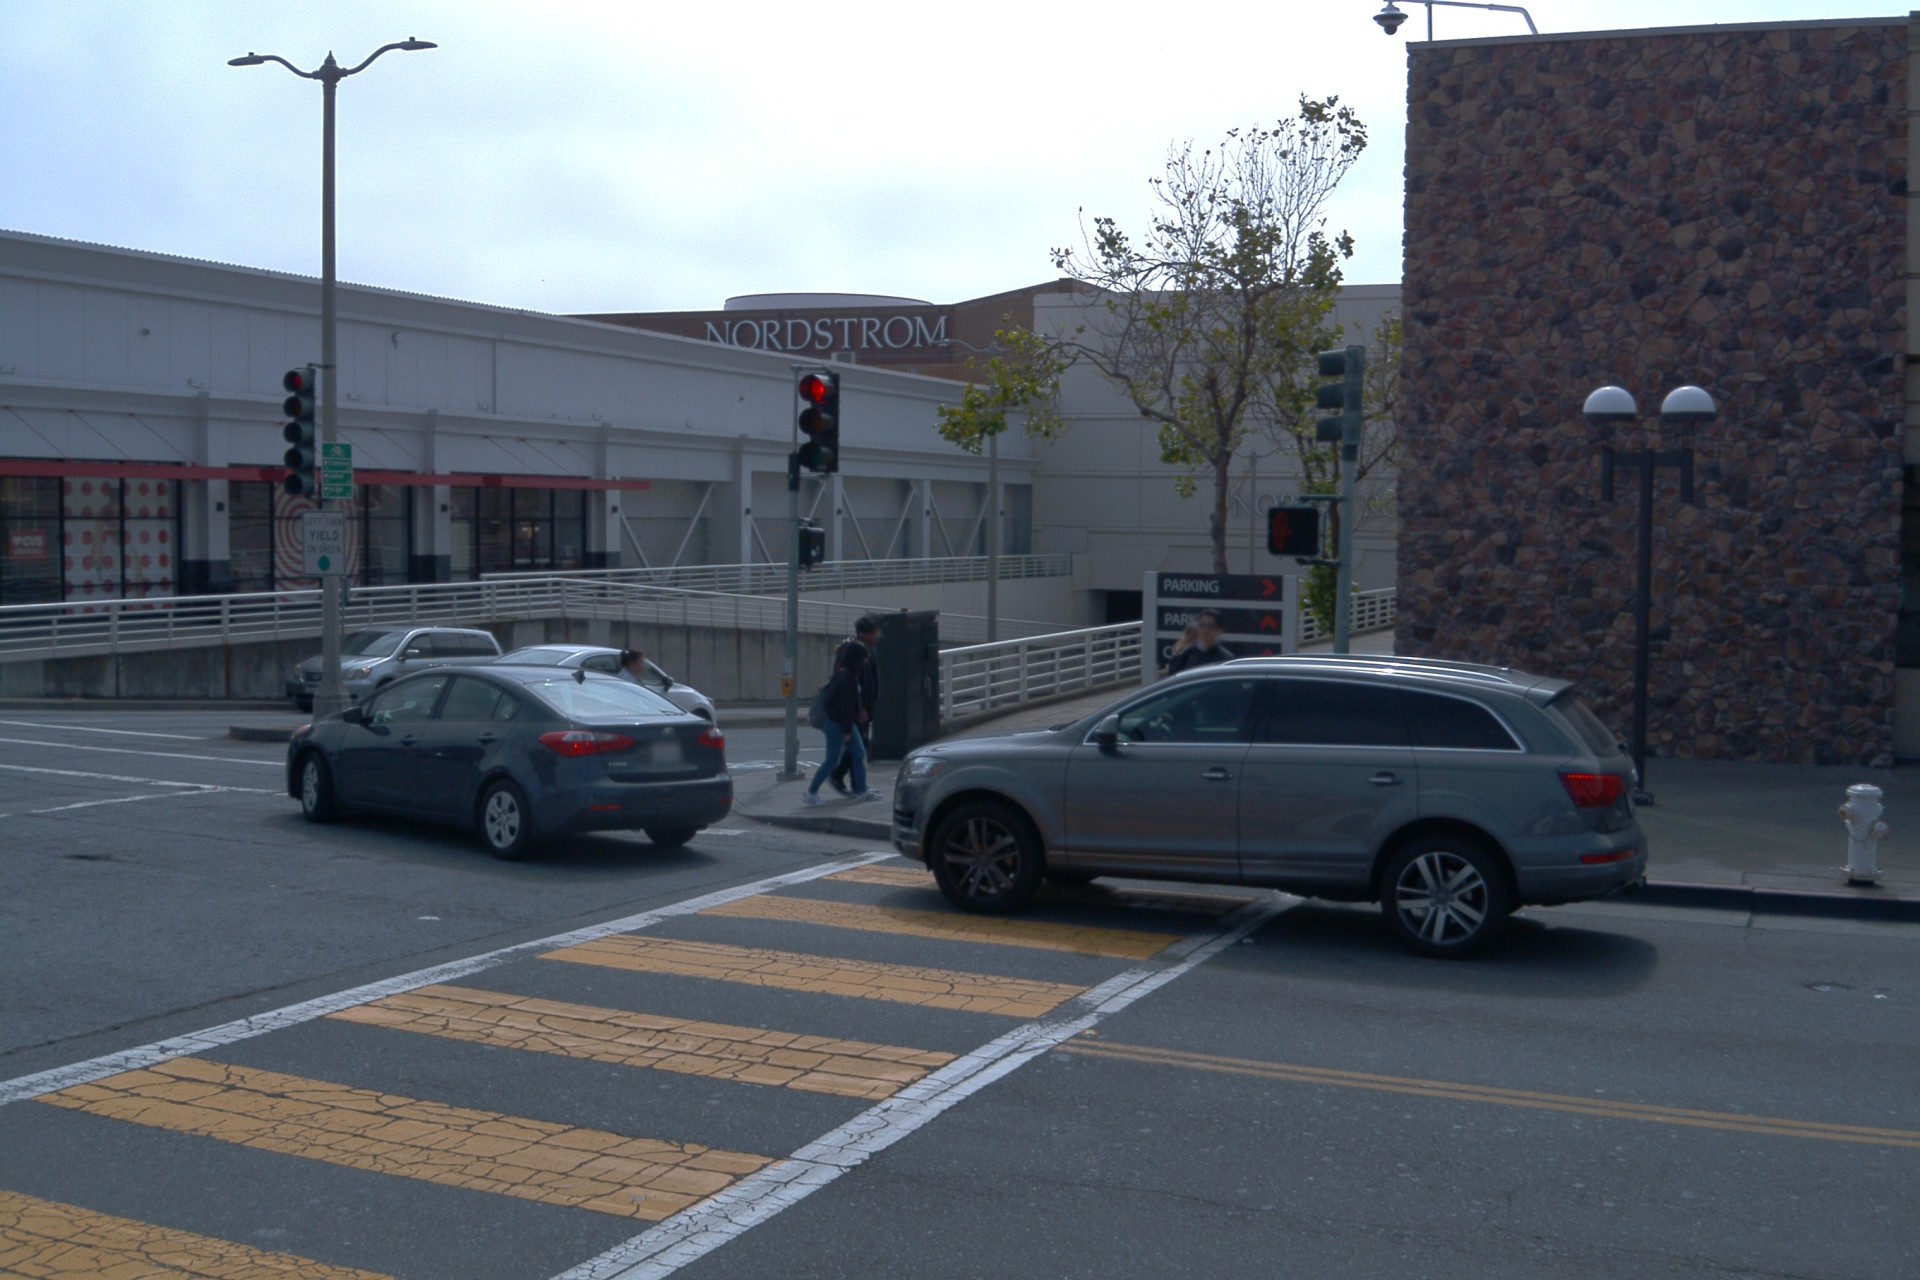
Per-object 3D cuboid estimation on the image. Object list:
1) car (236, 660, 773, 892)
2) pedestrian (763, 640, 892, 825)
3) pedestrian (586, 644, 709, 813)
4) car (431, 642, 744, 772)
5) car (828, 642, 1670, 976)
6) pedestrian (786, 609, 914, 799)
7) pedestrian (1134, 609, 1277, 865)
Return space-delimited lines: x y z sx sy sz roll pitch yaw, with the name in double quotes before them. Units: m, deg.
"car" -3.766 0.974 16.674 4.363 1.520 2.068 1 1 42
"pedestrian" -1.201 0.825 18.828 0.988 1.630 0.741 0 1 15
"pedestrian" -3.078 0.854 20.400 0.974 1.610 0.942 0 1 7
"car" -5.082 0.857 28.776 1.876 1.600 4.390 0 1 30
"car" 1.903 0.944 13.505 5.053 1.820 2.211 0 1 23
"pedestrian" -1.034 0.583 19.504 1.019 1.750 0.794 0 1 13
"pedestrian" 1.964 0.735 16.413 0.859 1.960 0.977 0 1 25
